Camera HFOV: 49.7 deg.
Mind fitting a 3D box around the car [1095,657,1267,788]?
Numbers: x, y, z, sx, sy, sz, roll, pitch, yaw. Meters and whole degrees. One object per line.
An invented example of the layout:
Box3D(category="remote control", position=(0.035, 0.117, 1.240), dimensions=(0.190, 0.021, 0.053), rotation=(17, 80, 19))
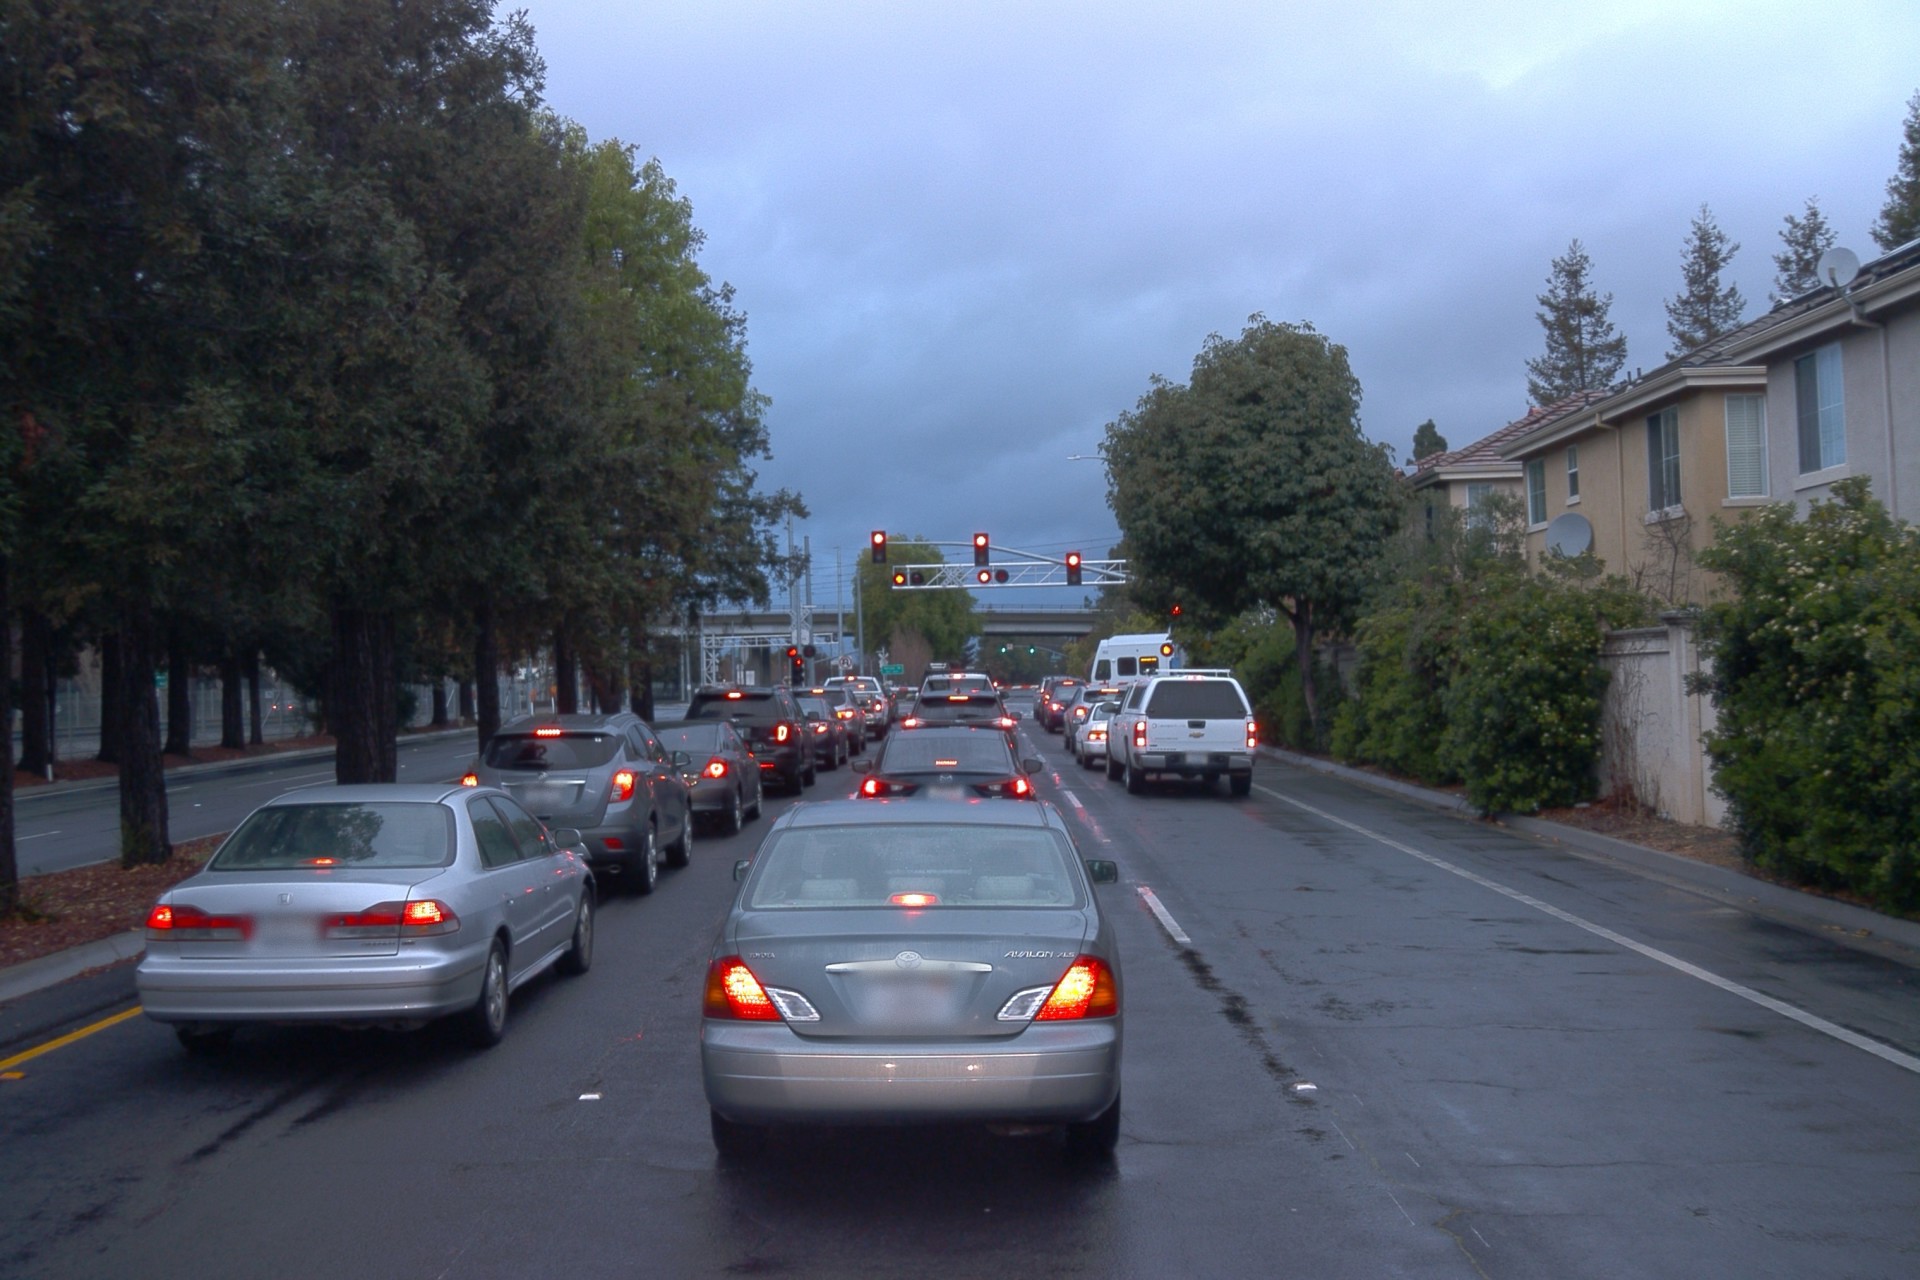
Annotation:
Box3D(category="car", position=(3.640, 1.335, 35.303), dimensions=(2.216, 2.050, 5.937), rotation=(0, -1, -1))

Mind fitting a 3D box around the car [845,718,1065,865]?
Box3D(category="car", position=(-0.106, 1.512, 21.828), dimensions=(2.081, 1.290, 4.552), rotation=(0, -1, -1))

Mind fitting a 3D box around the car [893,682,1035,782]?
Box3D(category="car", position=(0.021, 1.497, 35.020), dimensions=(2.231, 1.560, 4.585), rotation=(0, -1, -1))

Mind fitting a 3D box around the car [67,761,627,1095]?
Box3D(category="car", position=(-3.453, 1.579, 12.718), dimensions=(2.021, 1.480, 4.541), rotation=(0, -1, 1))

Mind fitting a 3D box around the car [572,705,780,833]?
Box3D(category="car", position=(-3.586, 1.612, 27.020), dimensions=(2.021, 1.460, 4.541), rotation=(0, -1, 1))

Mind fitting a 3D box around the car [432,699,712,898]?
Box3D(category="car", position=(-3.685, 1.461, 20.425), dimensions=(1.936, 1.700, 4.080), rotation=(0, -1, 1))

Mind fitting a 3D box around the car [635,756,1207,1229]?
Box3D(category="car", position=(-0.173, 1.428, 9.980), dimensions=(2.105, 1.550, 4.676), rotation=(0, -1, -1))

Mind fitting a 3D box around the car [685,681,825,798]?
Box3D(category="car", position=(-3.346, 1.601, 34.628), dimensions=(2.021, 1.810, 4.543), rotation=(0, -1, -2))
